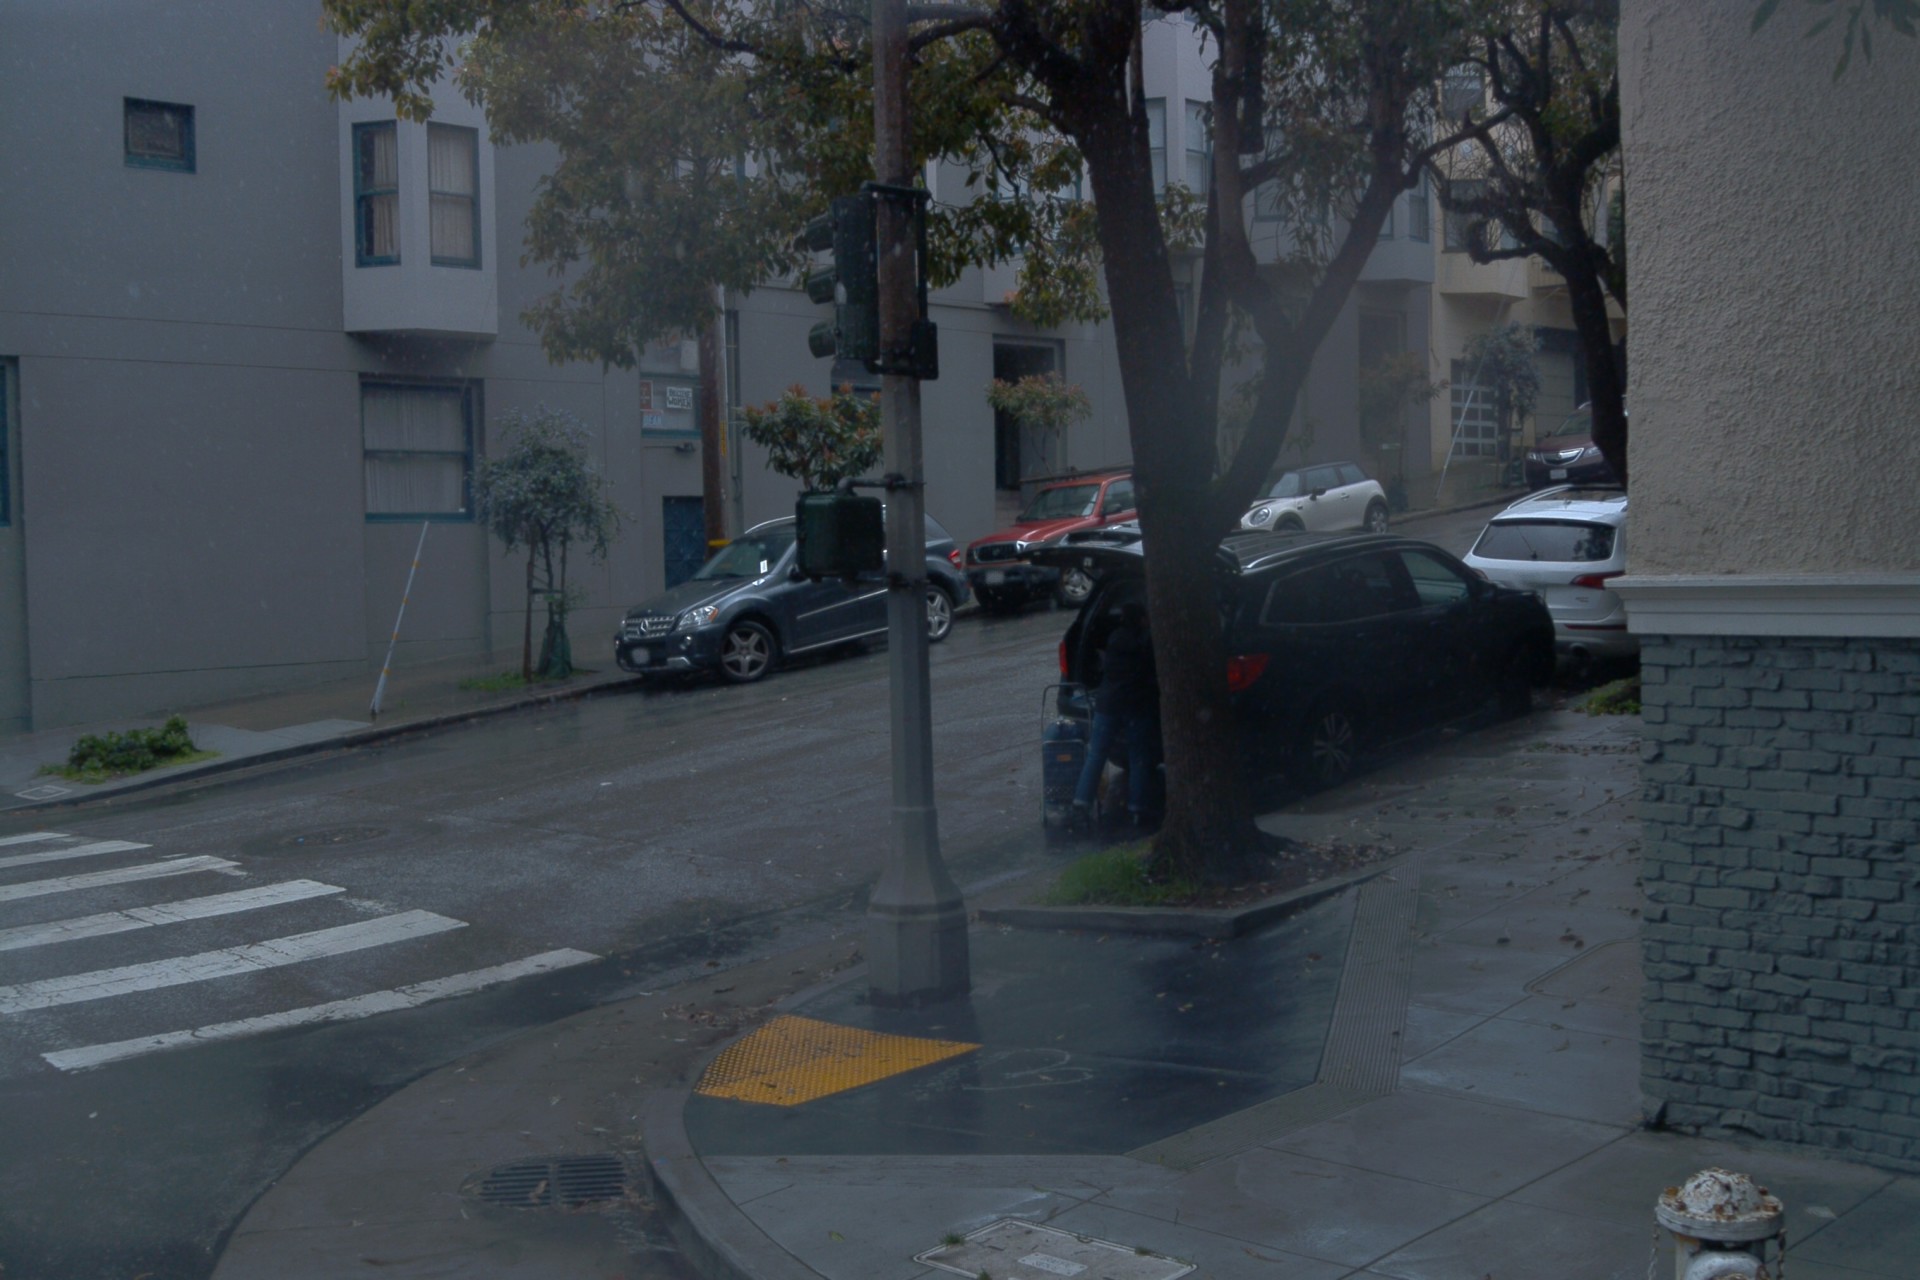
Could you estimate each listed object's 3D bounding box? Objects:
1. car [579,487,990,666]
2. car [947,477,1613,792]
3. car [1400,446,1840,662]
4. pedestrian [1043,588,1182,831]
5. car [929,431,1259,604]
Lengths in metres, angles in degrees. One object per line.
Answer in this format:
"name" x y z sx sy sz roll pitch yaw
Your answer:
"car" -2.050 -0.695 24.963 2.225 1.980 4.671 0 0 45
"car" 2.723 -0.029 16.095 2.384 2.040 5.680 0 0 43
"car" 6.524 -0.724 19.878 2.355 1.840 4.675 0 0 42
"pedestrian" 1.072 0.467 14.251 0.793 1.634 0.885 0 0 17
"car" 1.985 -1.646 29.236 4.537 2.180 2.259 0 0 -45
